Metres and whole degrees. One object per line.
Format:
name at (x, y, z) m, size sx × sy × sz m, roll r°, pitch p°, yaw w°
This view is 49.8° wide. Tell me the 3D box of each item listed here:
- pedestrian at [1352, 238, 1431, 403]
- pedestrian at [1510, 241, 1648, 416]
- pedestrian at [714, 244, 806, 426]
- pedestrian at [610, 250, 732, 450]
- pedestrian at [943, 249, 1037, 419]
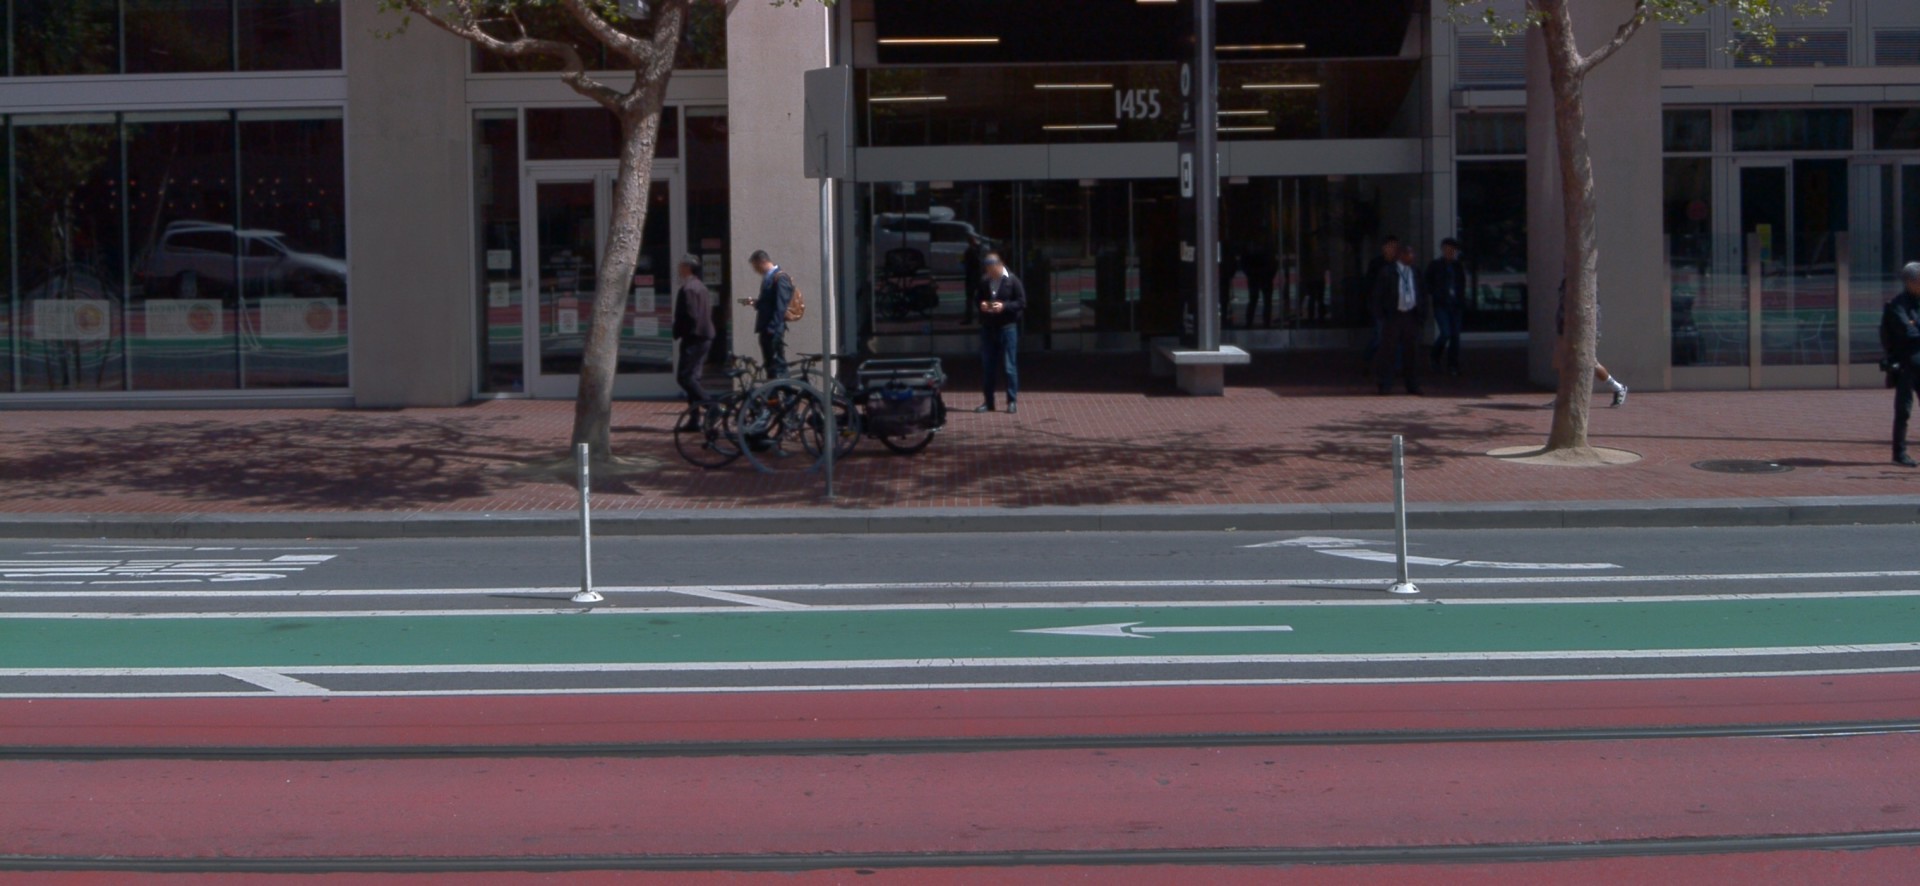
pedestrian at (4.984, -1.433, 23.918) m, size 0.814 × 1.856 × 0.802 m, roll 0°, pitch 2°, yaw 6°
pedestrian at (6.708, -1.269, 22.441) m, size 1.164 × 1.826 × 0.845 m, roll -1°, pitch 2°, yaw -13°
pedestrian at (-2.185, -1.201, 22.533) m, size 0.692 × 1.916 × 0.716 m, roll -2°, pitch 2°, yaw -41°
pedestrian at (-2.979, -0.978, 21.353) m, size 1.076 × 2.006 × 0.782 m, roll 0°, pitch 2°, yaw 5°
pedestrian at (0.329, -1.224, 22.776) m, size 0.740 × 1.816 × 0.739 m, roll 1°, pitch 2°, yaw 34°
